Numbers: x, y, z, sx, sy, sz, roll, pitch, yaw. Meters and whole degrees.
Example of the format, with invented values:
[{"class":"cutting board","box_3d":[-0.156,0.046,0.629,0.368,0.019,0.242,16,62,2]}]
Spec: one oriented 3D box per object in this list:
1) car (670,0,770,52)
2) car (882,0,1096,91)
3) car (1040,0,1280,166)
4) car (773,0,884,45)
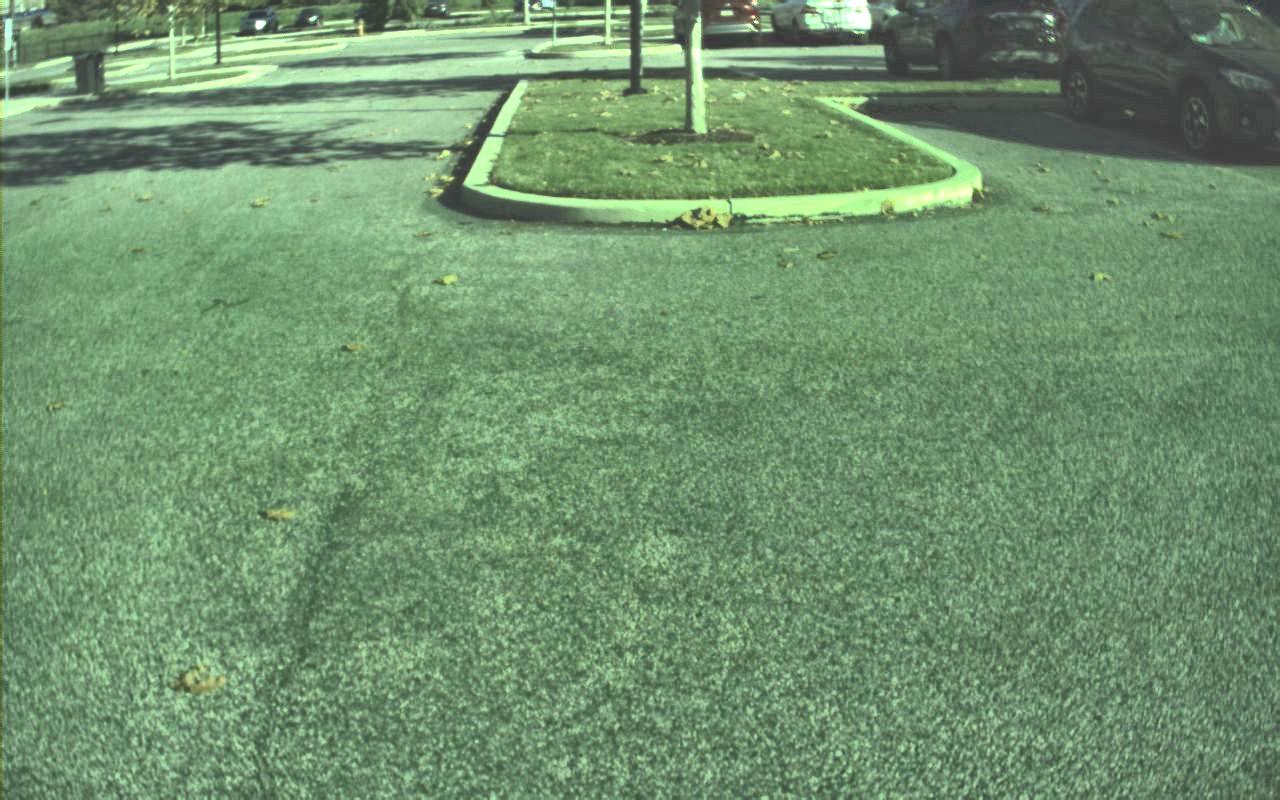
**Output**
[{"class":"car","box_3d":[2.039,-10.193,32.751,2.013,1.747,4.650,-2,17,-4]},{"class":"car","box_3d":[5.520,-5.970,19.307,2.005,1.643,4.776,-2,17,-5]},{"class":"car","box_3d":[5.842,-3.477,11.539,1.941,1.576,4.598,-3,17,-6]},{"class":"car","box_3d":[5.036,-10.529,32.939,2.013,1.743,4.658,-2,17,-4]}]
